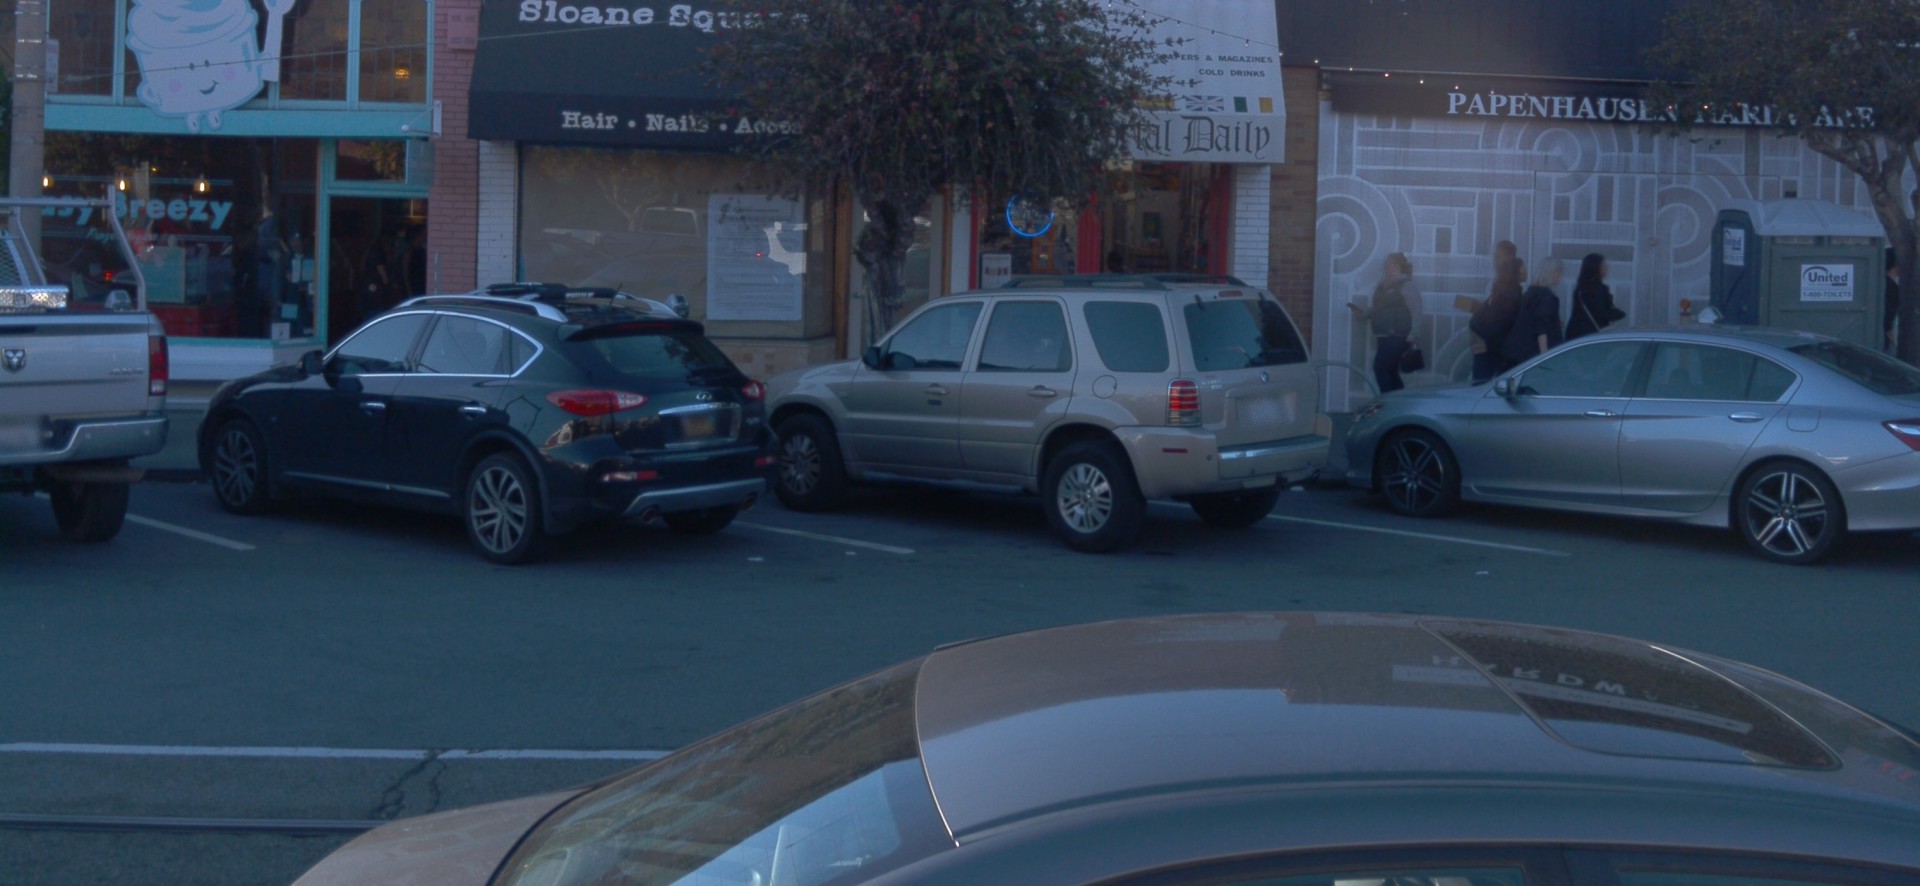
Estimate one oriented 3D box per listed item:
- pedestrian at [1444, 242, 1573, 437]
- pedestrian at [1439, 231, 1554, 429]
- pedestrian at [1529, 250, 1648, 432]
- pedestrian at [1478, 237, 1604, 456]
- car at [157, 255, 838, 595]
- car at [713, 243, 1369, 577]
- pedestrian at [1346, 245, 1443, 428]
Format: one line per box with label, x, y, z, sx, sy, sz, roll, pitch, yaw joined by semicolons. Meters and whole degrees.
pedestrian;5.031;-0.965;19.090;0.899;1.737;0.801;1;2;-6
pedestrian;5.074;-1.090;19.695;0.734;1.816;0.919;1;2;-9
pedestrian;5.829;-0.958;19.270;0.834;1.637;0.719;1;2;-5
pedestrian;5.118;-0.875;18.347;0.771;1.866;0.910;1;2;-6
car;-3.225;-0.303;14.037;4.523;1.793;2.116;5;6;39
car;0.469;-0.407;14.616;4.242;1.893;2.079;6;6;42
pedestrian;4.164;-1.037;19.937;0.715;1.707;0.691;1;2;-6
